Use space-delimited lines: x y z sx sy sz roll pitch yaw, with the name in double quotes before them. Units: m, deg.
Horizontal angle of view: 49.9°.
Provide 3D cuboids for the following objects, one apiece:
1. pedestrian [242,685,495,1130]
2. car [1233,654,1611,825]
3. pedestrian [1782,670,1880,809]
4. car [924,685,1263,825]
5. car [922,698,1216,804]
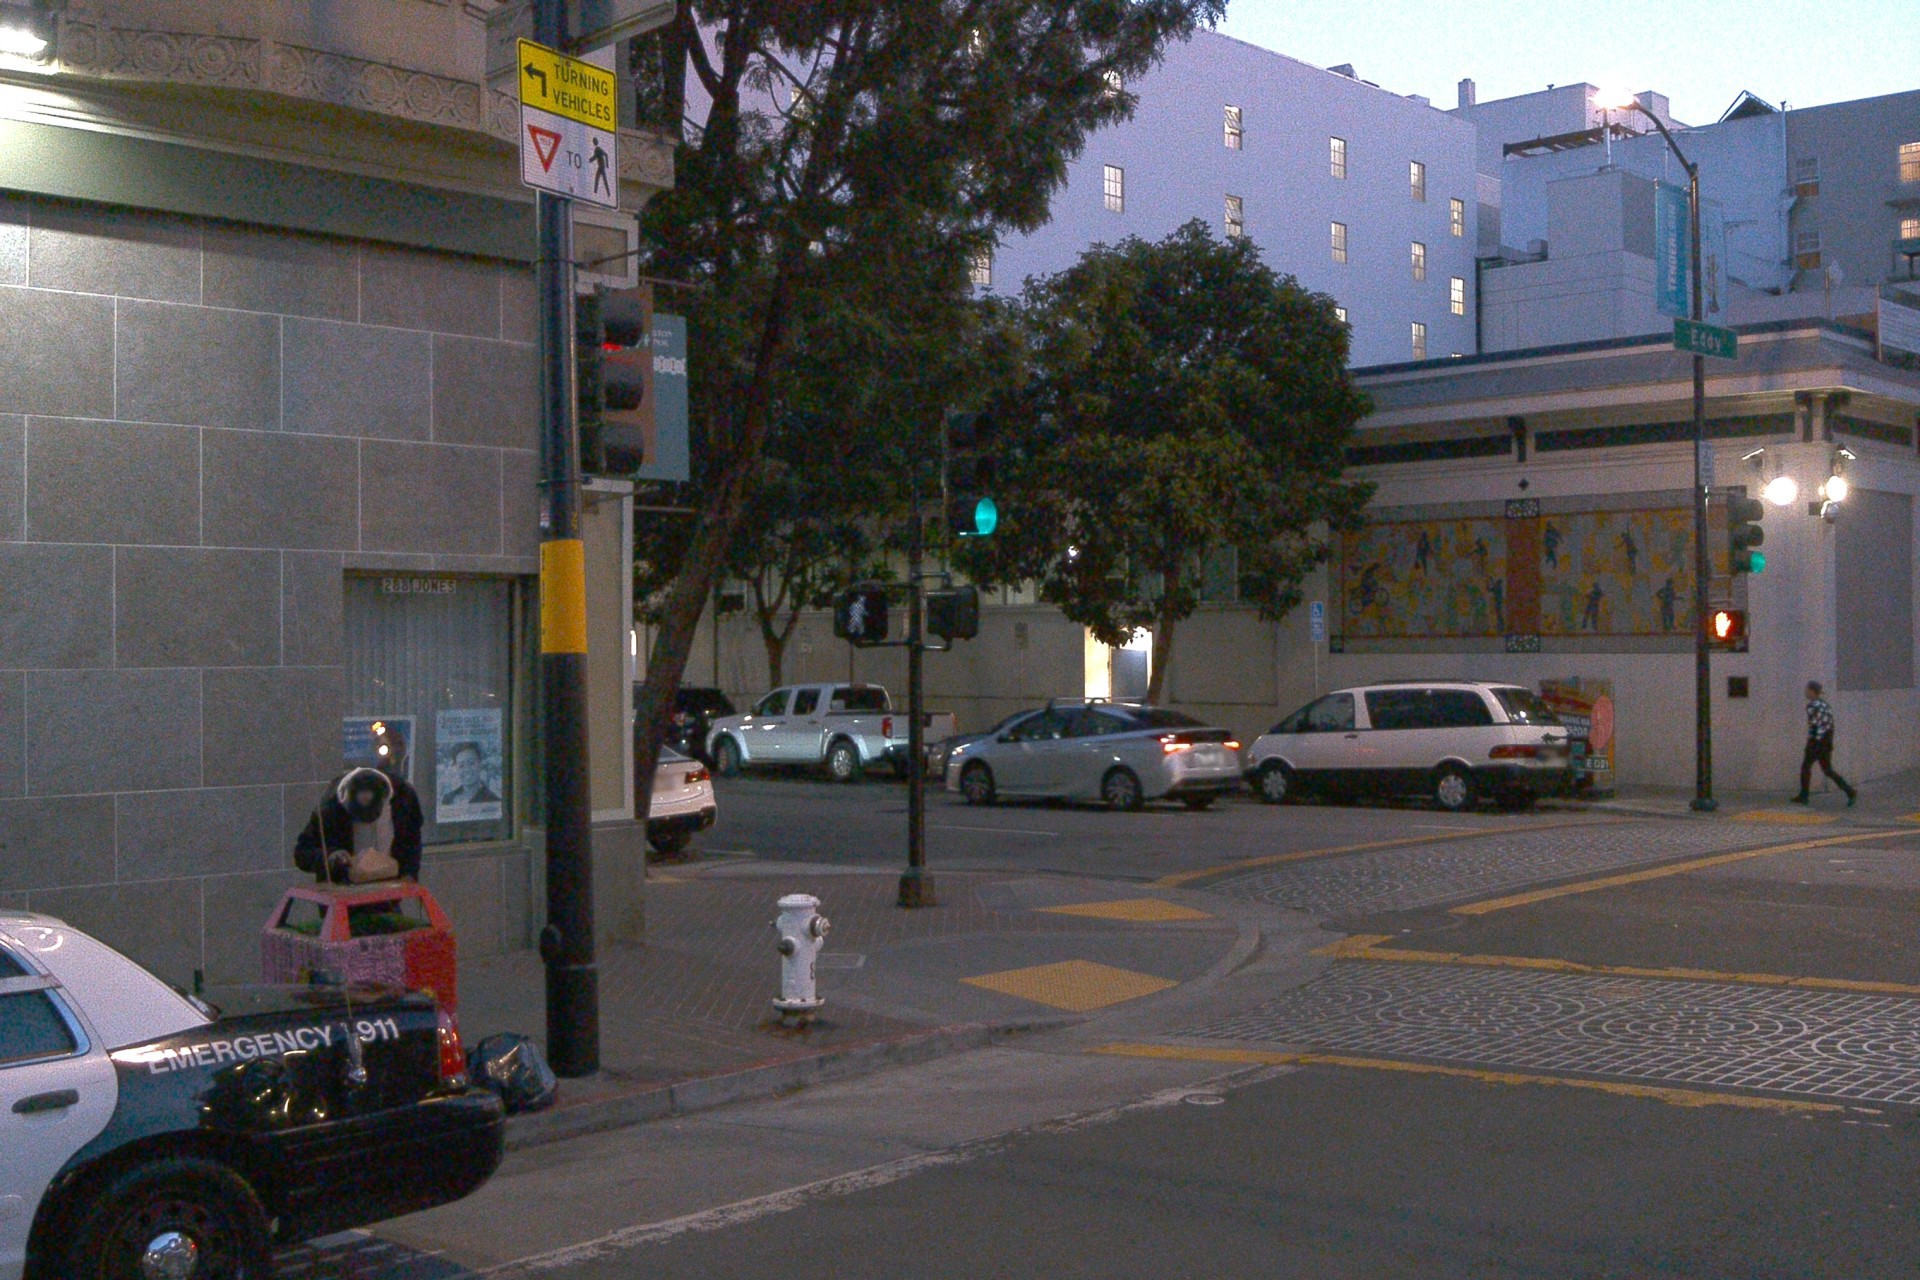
"pedestrian" -2.890 1.241 10.066 0.983 1.990 0.865 -1 1 -31
"car" 6.359 1.288 28.799 4.809 2.080 2.006 1 1 44
"pedestrian" 11.883 1.339 28.174 0.596 1.820 1.071 -1 1 -38
"car" 1.781 1.526 28.732 1.938 1.610 4.582 -1 1 -44
"car" 1.705 1.747 33.591 1.916 1.390 4.727 -1 1 -45
